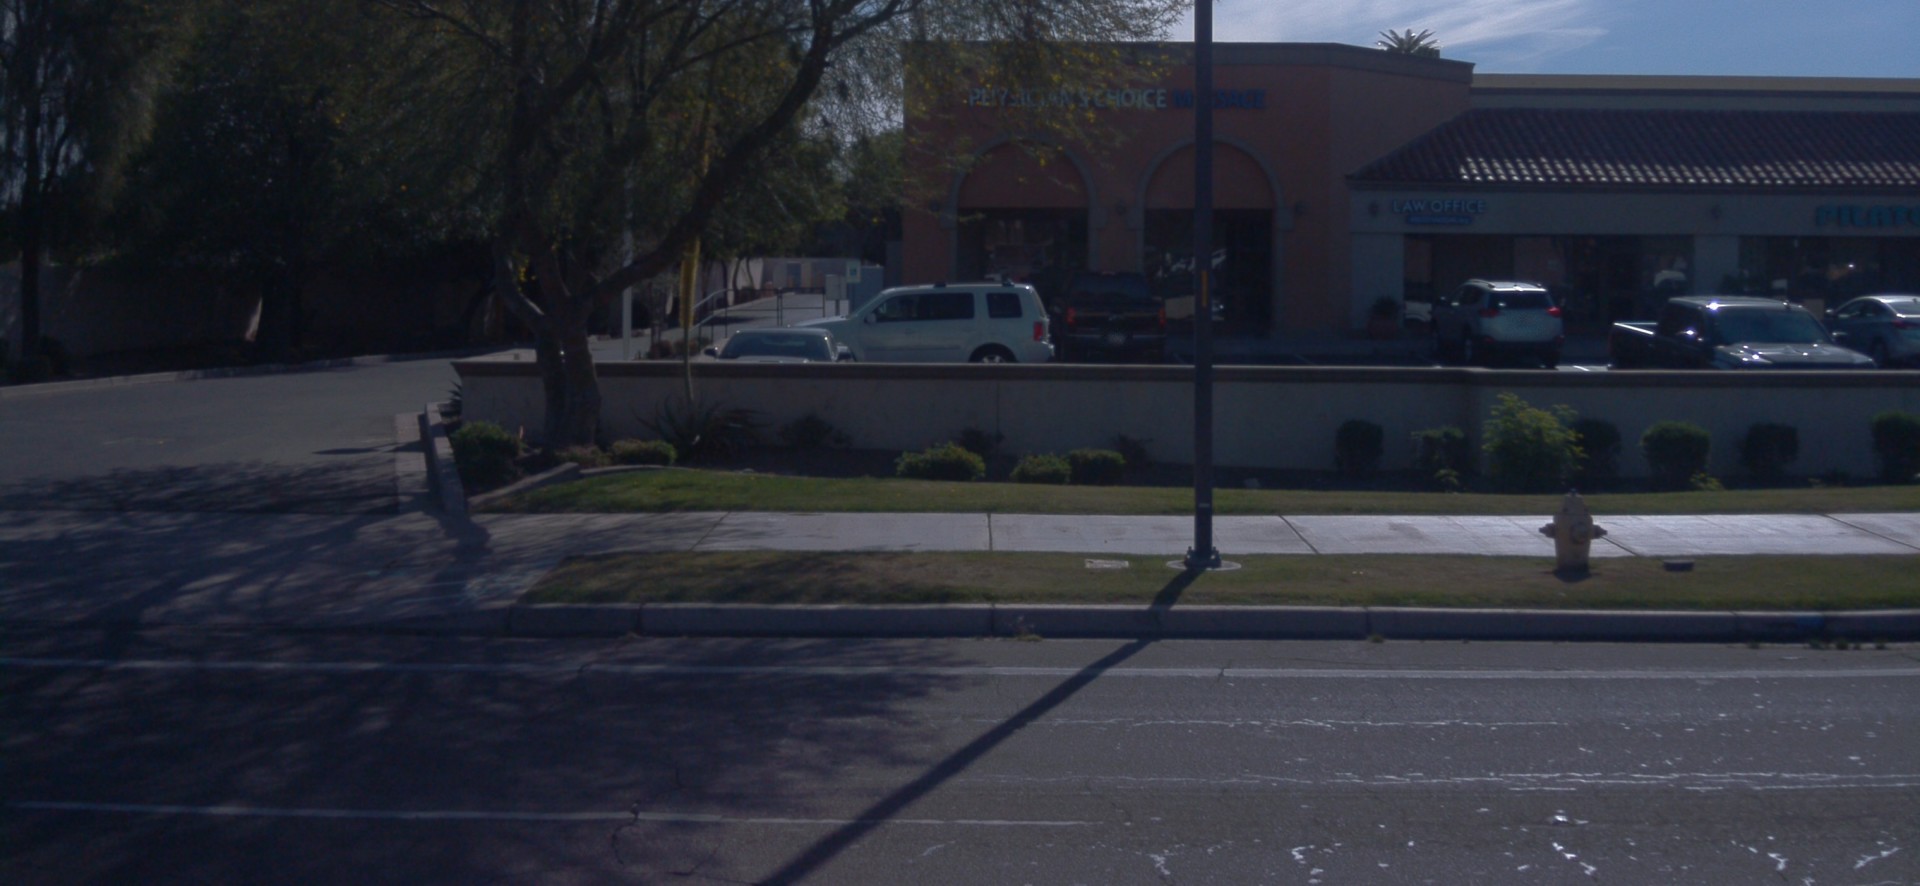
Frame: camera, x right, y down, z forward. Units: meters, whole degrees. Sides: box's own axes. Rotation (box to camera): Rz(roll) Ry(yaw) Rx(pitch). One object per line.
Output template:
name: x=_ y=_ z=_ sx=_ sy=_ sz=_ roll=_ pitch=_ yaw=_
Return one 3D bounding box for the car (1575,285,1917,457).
car: x=10.611 y=-1.117 z=28.693 sx=2.400 sy=1.983 sz=5.970 roll=0 pitch=5 yaw=-1

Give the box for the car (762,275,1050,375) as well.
car: x=-0.899 y=-2.078 z=36.144 sx=4.870 sy=1.647 sz=1.990 roll=0 pitch=3 yaw=1
